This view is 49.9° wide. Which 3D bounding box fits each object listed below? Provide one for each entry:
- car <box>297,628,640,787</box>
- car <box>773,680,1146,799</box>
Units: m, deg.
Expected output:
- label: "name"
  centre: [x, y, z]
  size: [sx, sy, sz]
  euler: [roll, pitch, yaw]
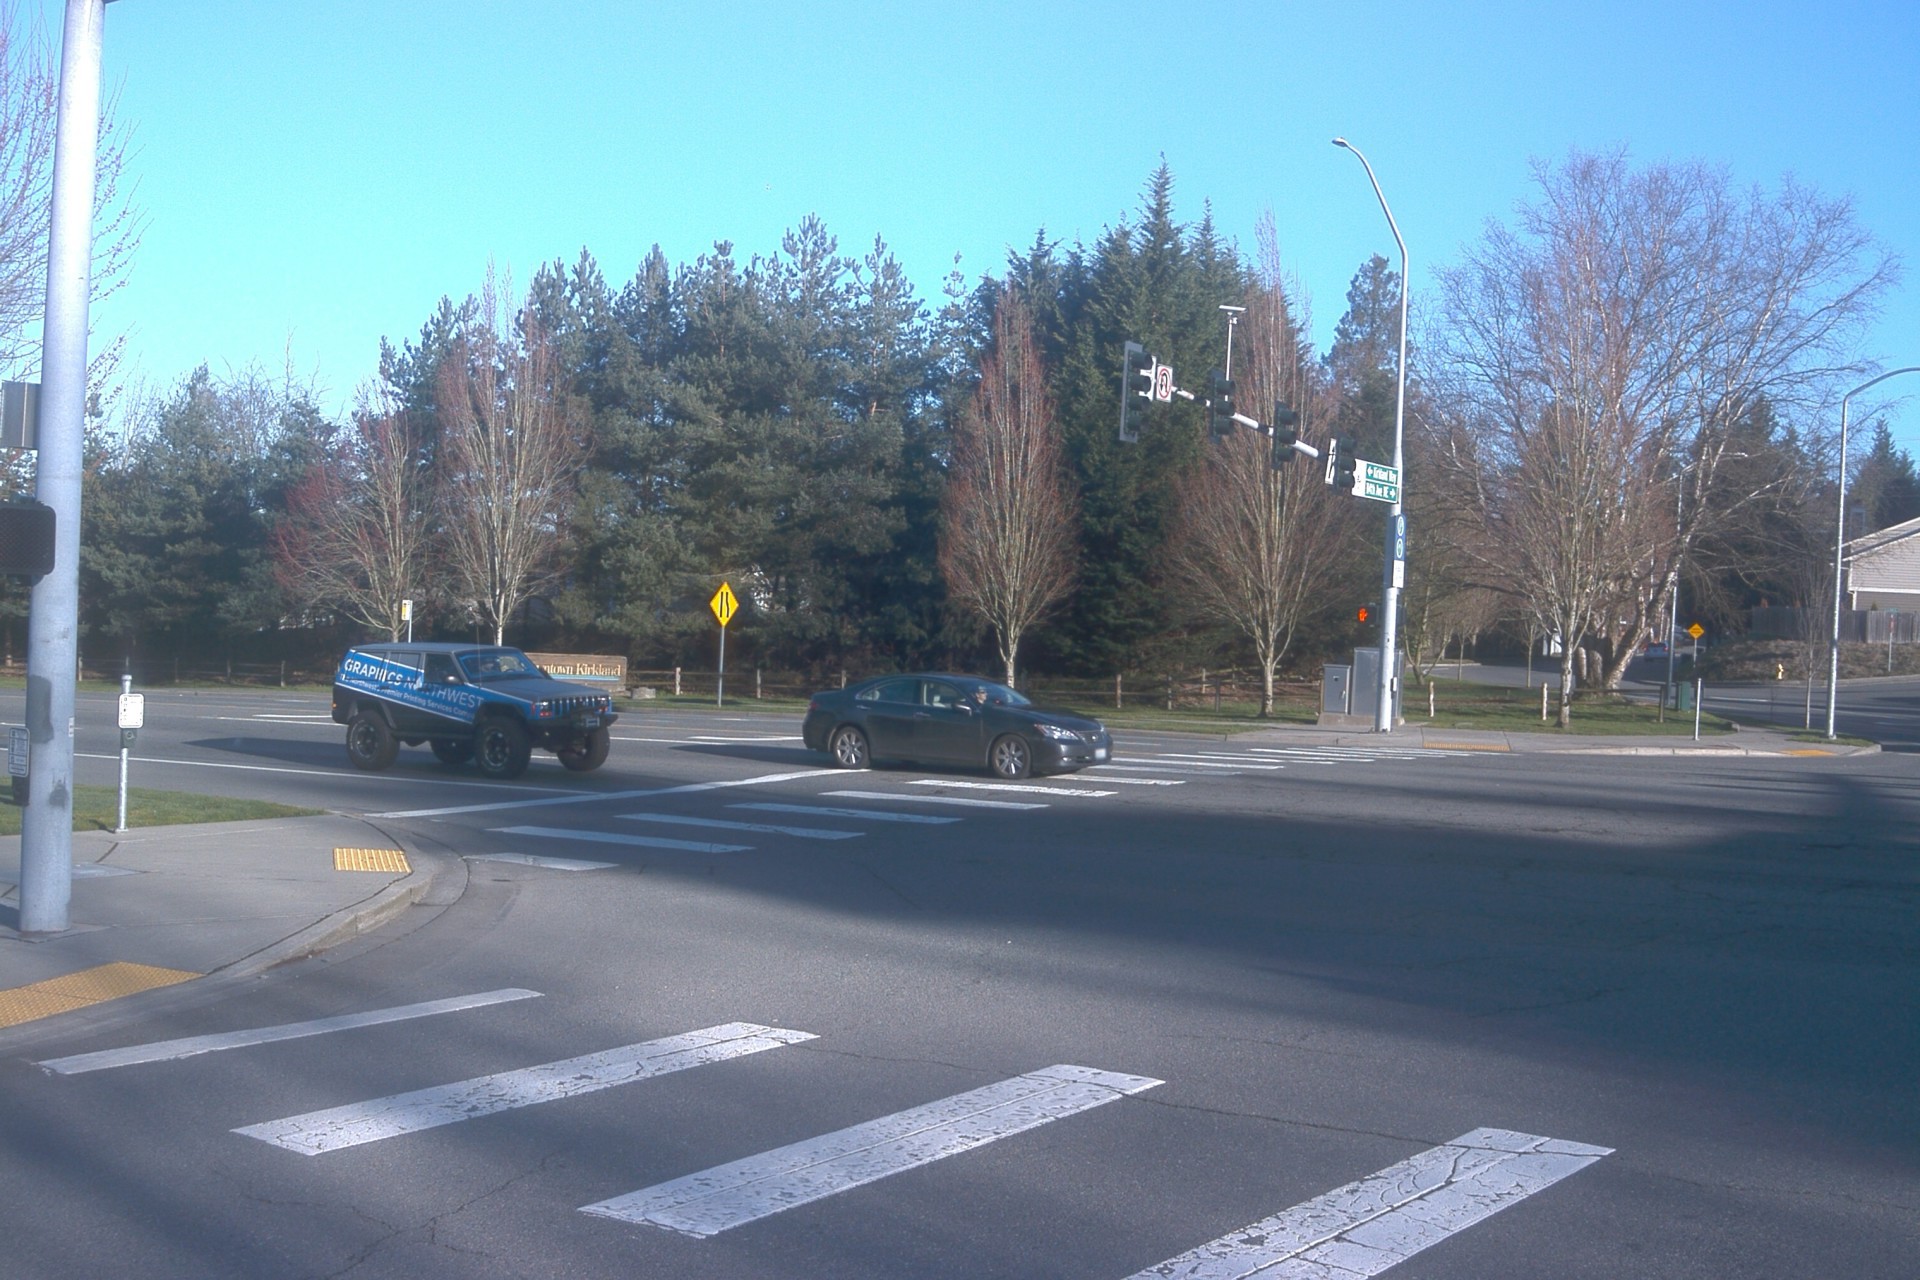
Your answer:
- label: "car"
  centre: [-7.036, 0.881, 29.385]
  size: [4.713, 2.070, 2.047]
  euler: [1, 1, 33]
- label: "car"
  centre: [-0.051, 1.387, 30.087]
  size: [5.061, 1.440, 2.161]
  euler: [1, 1, 32]
